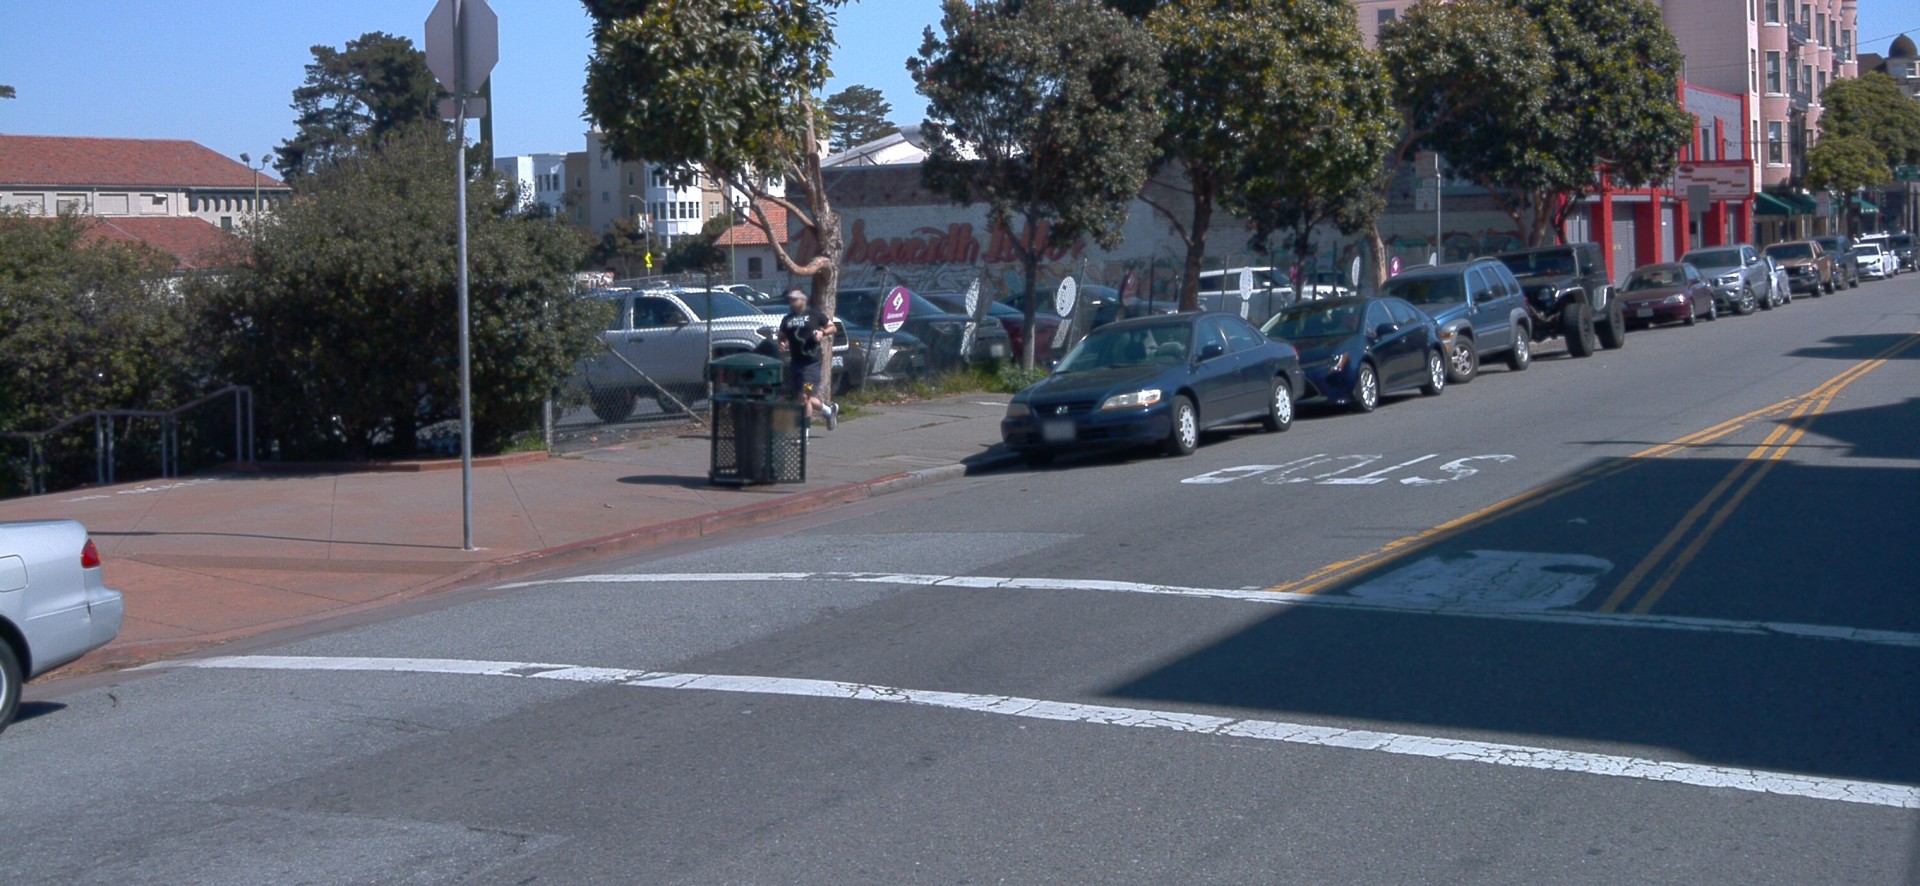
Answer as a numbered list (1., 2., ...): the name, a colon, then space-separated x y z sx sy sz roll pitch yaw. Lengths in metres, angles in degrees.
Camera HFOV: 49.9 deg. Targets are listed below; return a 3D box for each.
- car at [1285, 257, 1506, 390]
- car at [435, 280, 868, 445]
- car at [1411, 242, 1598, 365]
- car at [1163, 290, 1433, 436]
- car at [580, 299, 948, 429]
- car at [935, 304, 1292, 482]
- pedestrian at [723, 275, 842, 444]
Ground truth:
1. car: 6.729 -1.907 31.587 2.012 1.835 4.241 2 5 31
2. car: -4.225 -1.181 27.992 5.679 1.966 2.103 3 4 28
3. car: 9.600 -2.517 36.169 2.080 2.004 4.399 2 5 30
4. car: 4.457 -1.116 26.639 1.948 1.585 4.585 2 5 30
5. car: -2.898 -1.227 30.306 5.010 1.646 2.179 3 4 28
6. car: 1.805 -0.654 22.348 2.009 1.525 4.896 2 5 29
7. pedestrian: -1.931 -0.942 22.540 0.826 1.769 1.065 1 2 32
